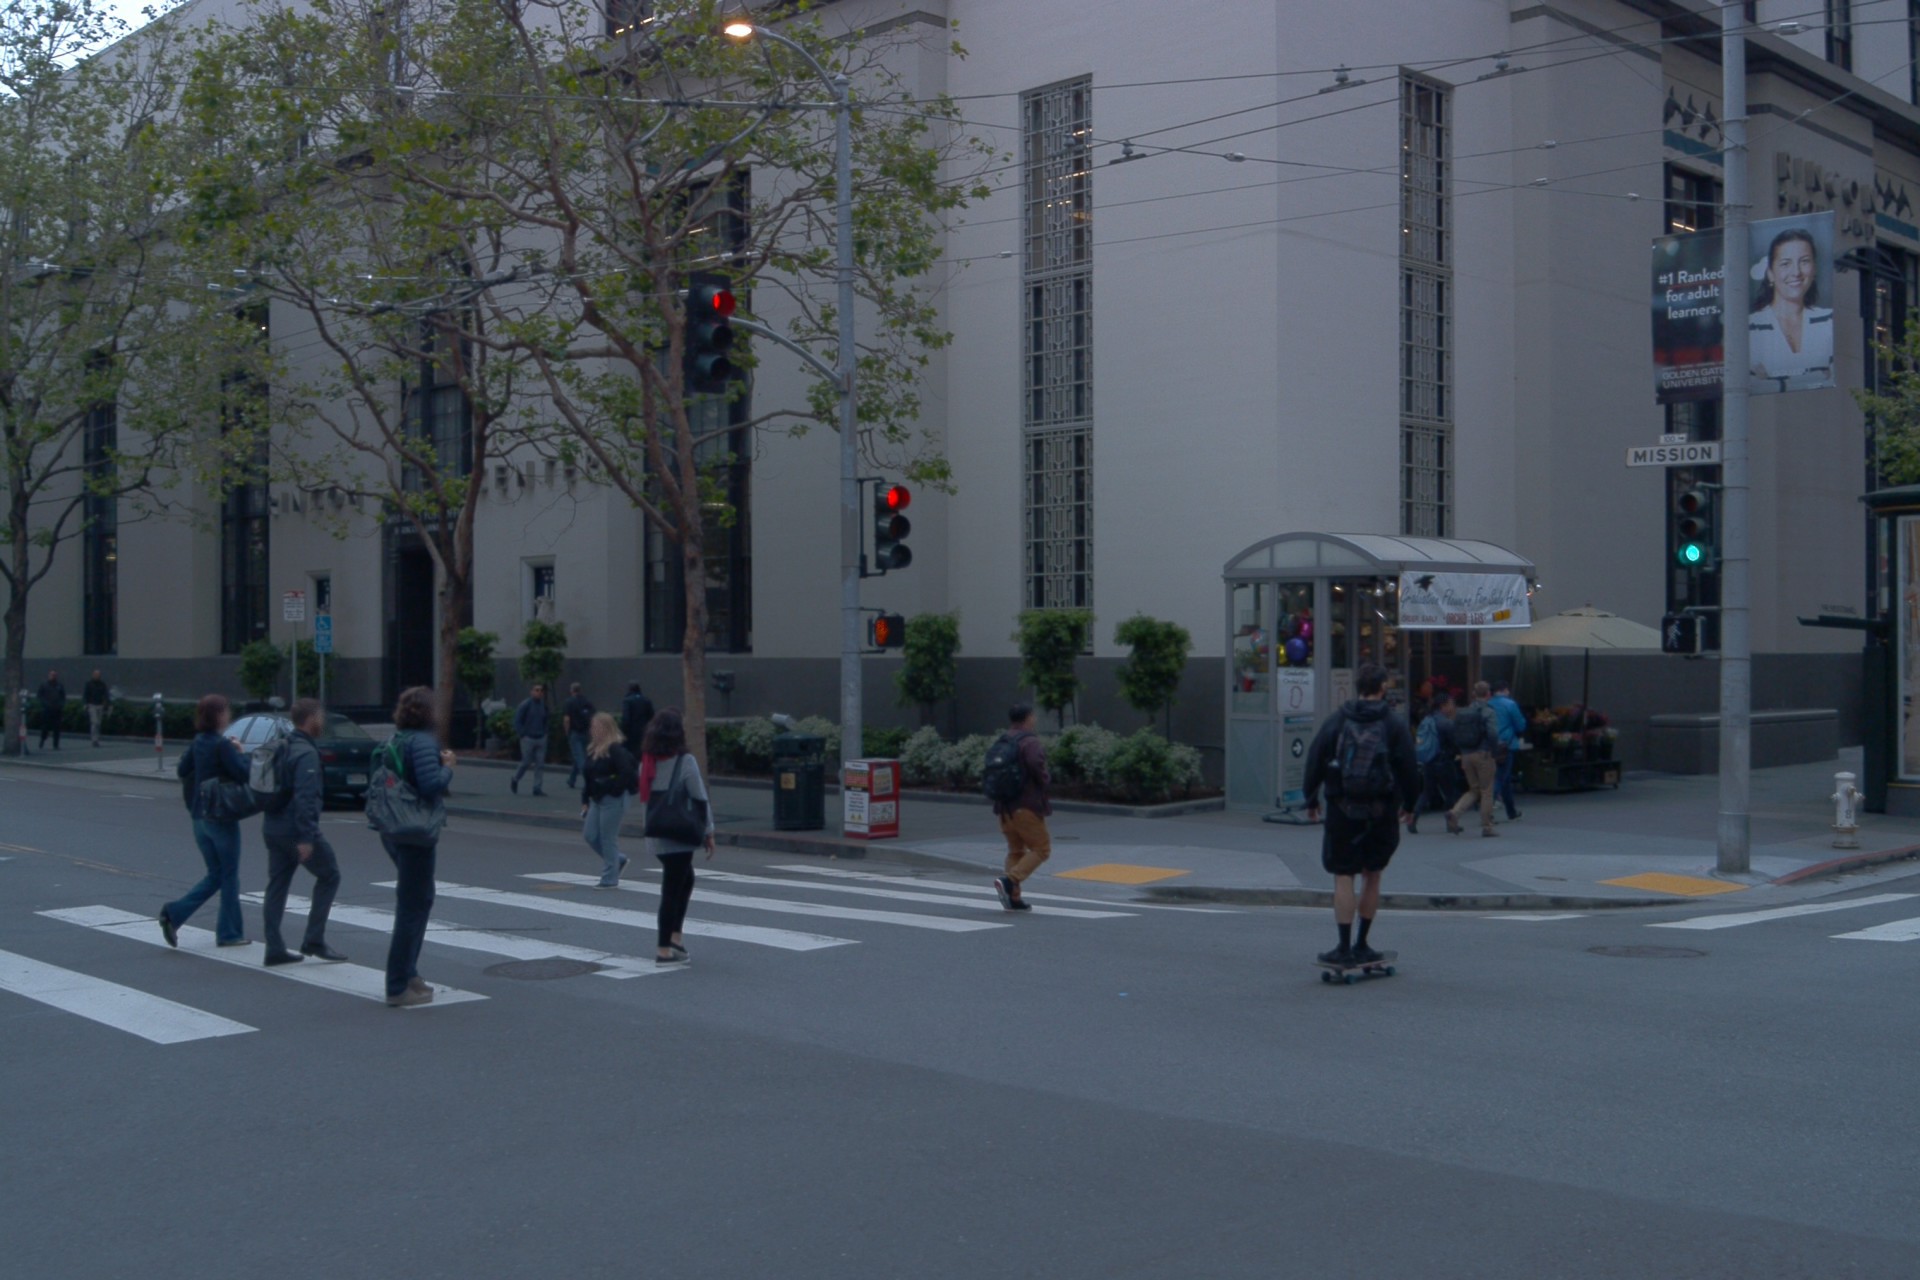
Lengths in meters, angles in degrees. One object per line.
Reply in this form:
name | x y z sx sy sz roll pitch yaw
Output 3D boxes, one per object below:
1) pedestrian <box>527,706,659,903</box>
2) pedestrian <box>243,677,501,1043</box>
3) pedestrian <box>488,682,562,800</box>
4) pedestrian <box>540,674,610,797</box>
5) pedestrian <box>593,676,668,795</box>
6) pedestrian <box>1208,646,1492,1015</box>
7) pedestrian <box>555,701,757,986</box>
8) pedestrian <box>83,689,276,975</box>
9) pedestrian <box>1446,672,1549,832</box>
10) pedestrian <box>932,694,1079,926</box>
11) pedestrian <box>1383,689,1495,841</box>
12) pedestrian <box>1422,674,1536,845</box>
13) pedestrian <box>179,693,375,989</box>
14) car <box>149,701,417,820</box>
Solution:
pedestrian | -3.261 1.434 18.330 0.894 1.646 0.735 -1 1 -41
pedestrian | -3.424 1.221 12.050 0.842 1.969 1.167 1 1 43
pedestrian | -6.620 1.522 31.403 0.865 1.726 0.726 1 1 45
pedestrian | -6.045 1.487 32.380 0.681 1.856 0.975 -1 1 -41
pedestrian | -5.217 1.493 32.630 0.757 1.796 0.983 -1 1 -42
pedestrian | 2.460 1.112 12.941 1.097 2.118 1.544 1 1 42
pedestrian | -1.997 1.295 13.591 1.044 1.739 0.795 -1 1 -42
pedestrian | -5.427 1.294 14.365 0.828 1.856 0.973 1 1 42
pedestrian | 6.630 1.360 25.470 0.984 1.896 0.798 -1 1 -38
pedestrian | 0.371 1.343 16.692 0.716 1.771 0.964 1 1 45
pedestrian | 5.657 1.453 24.374 0.974 1.706 0.840 -1 1 -31
pedestrian | 6.015 1.358 23.926 1.051 1.896 0.762 -1 1 -30
pedestrian | -4.495 1.277 13.586 0.942 1.809 0.849 -1 1 -44
car | -10.381 1.769 31.454 2.016 1.480 4.678 -1 1 -45
